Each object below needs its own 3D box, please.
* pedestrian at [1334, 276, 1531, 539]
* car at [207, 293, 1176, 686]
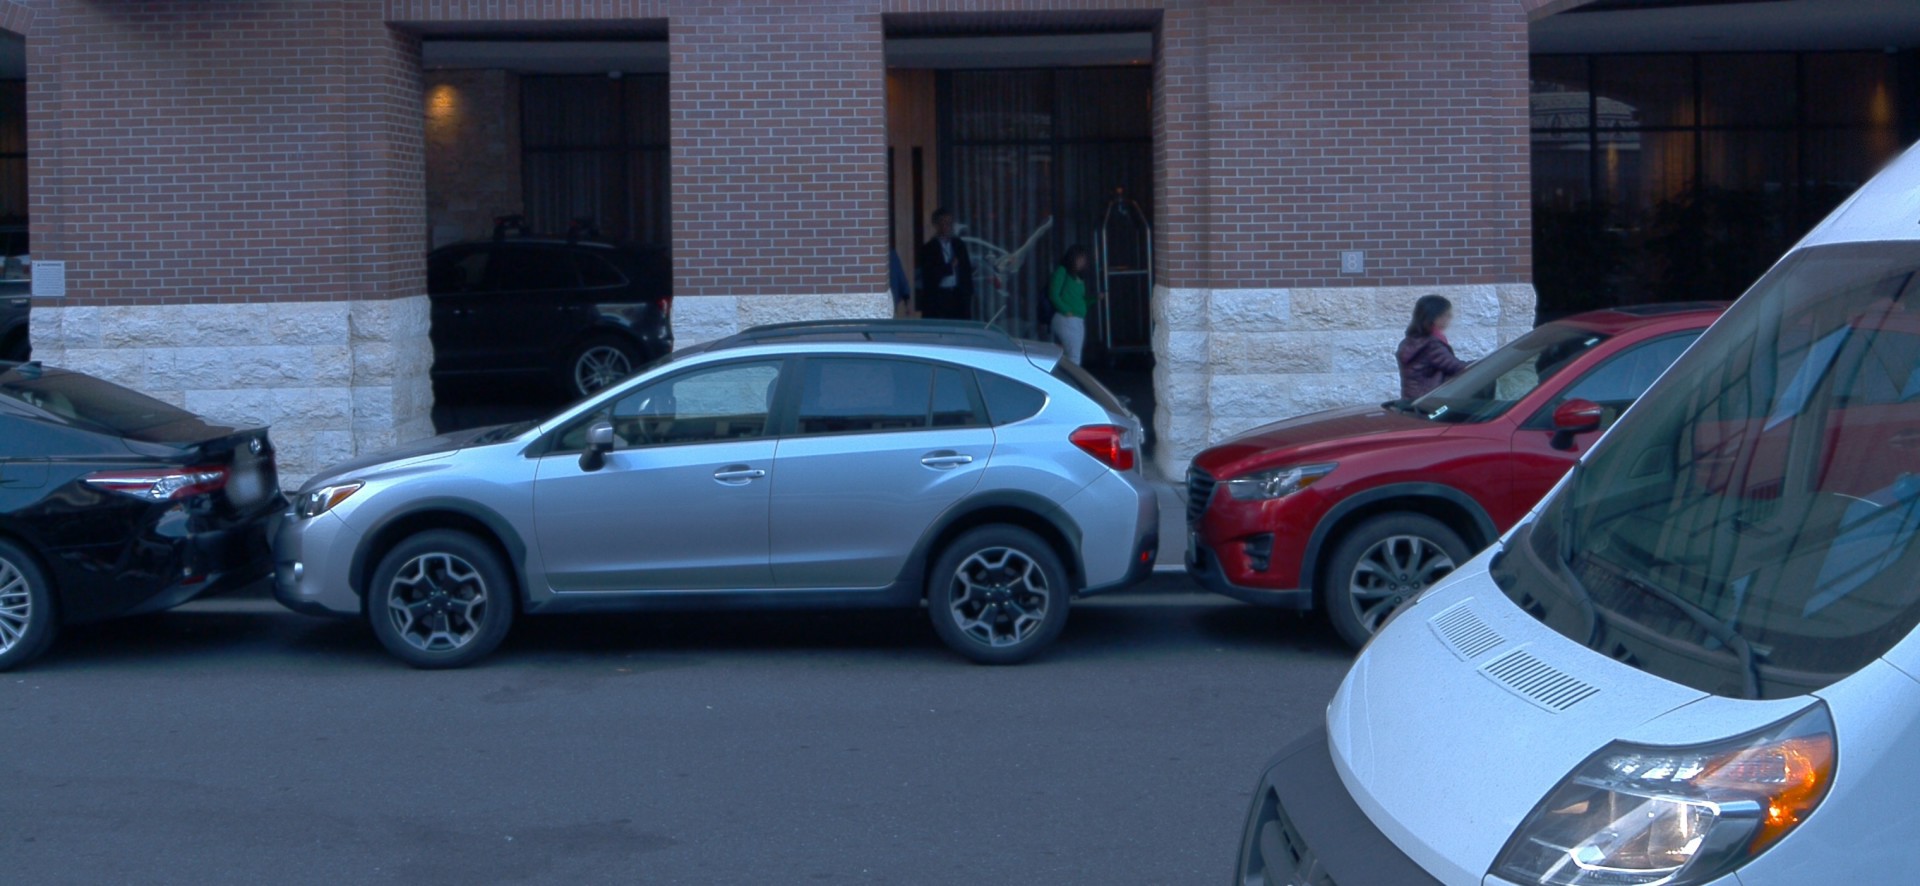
[{"bbox_3d":[3.033,-0.265,13.342,0.931,1.581,0.962,-1,3,-10],"label":"pedestrian"},{"bbox_3d":[-1.231,0.145,10.556,4.456,1.687,2.062,0,4,1],"label":"car"}]
